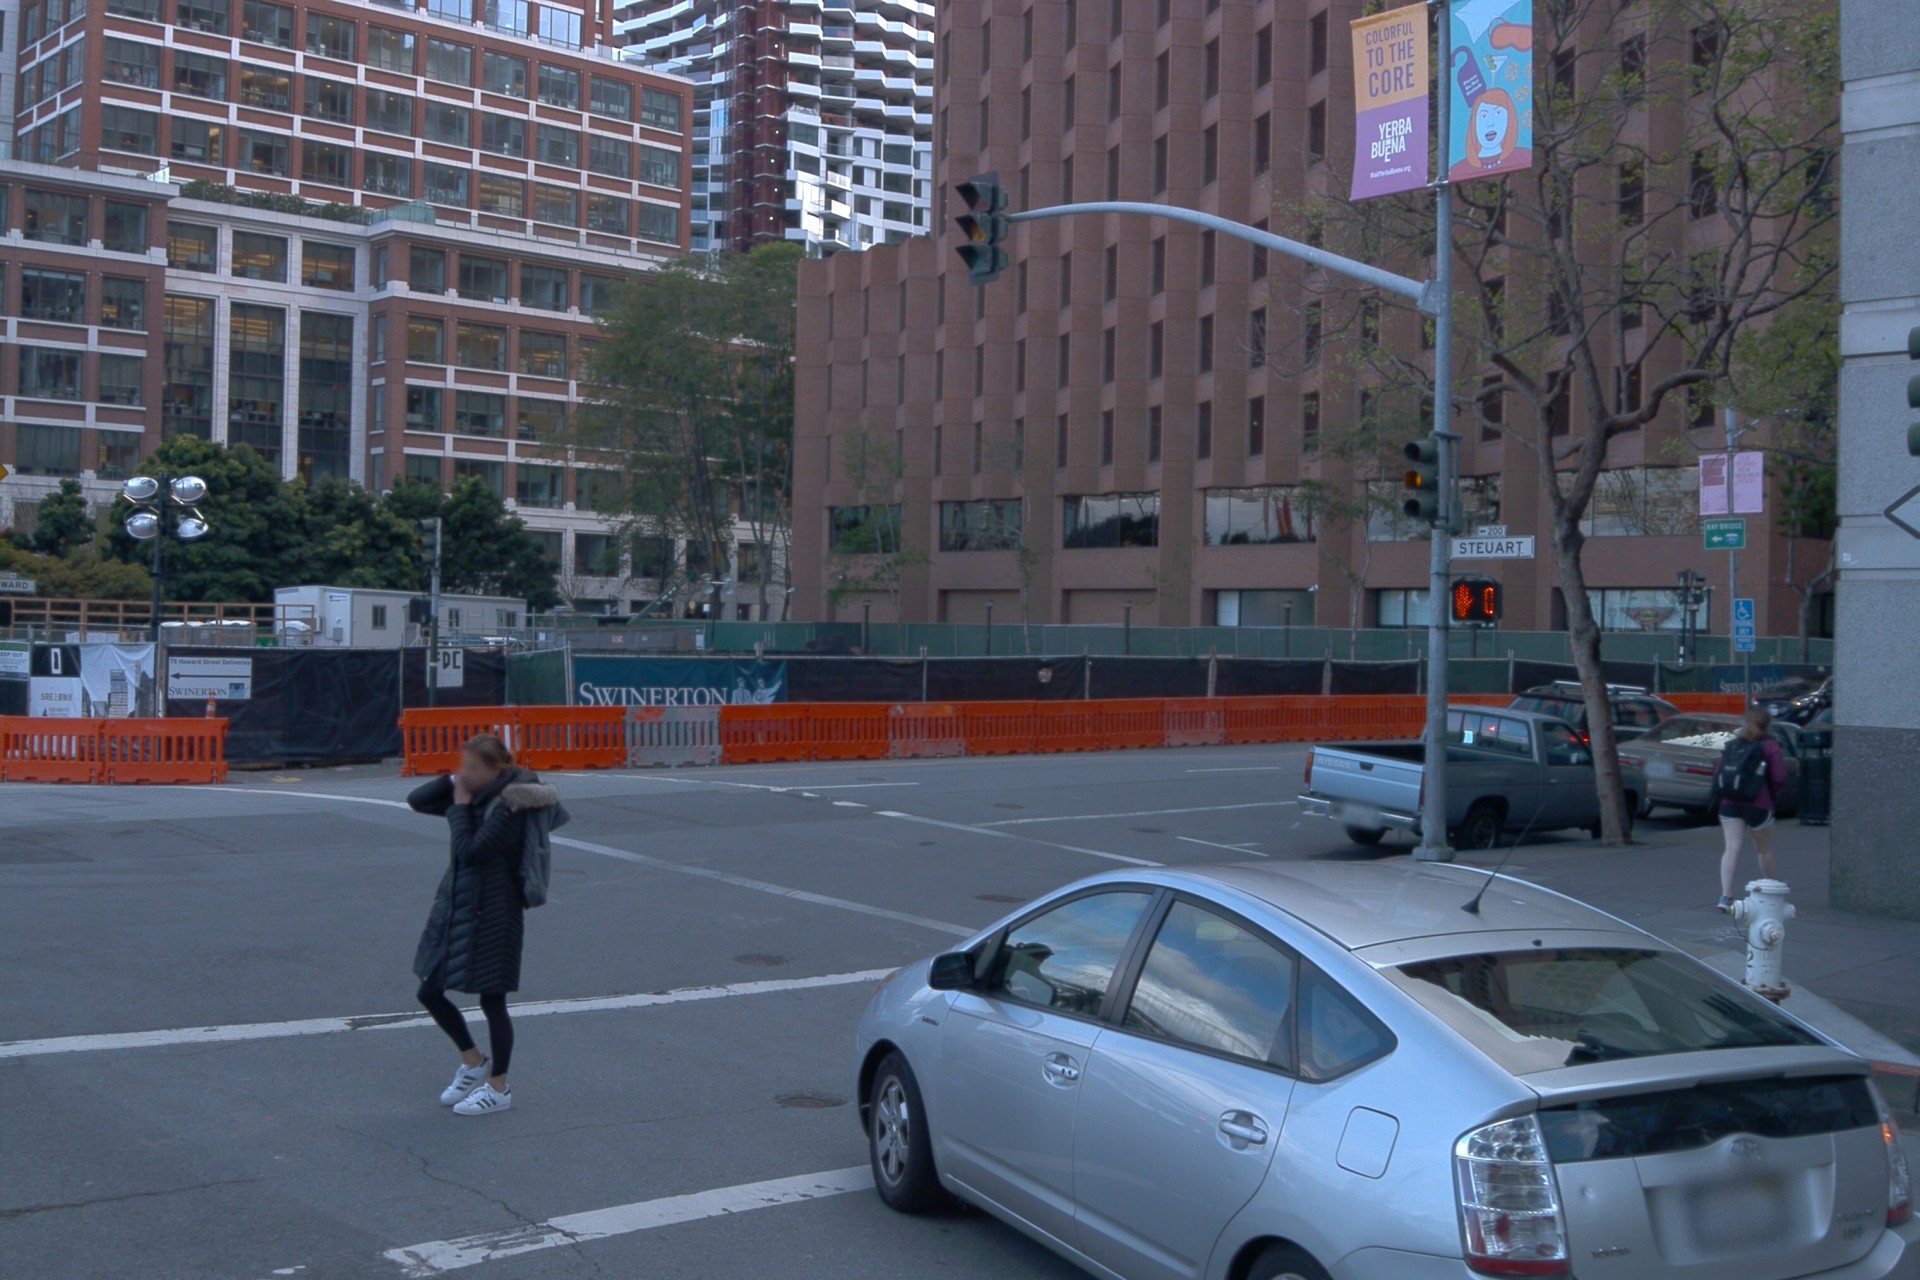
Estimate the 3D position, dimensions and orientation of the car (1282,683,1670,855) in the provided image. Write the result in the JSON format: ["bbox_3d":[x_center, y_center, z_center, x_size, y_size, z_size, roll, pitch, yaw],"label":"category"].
[{"bbox_3d":[5.760,1.326,22.508,4.672,1.610,1.863,0,0,-42],"label":"car"}]

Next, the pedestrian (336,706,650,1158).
[{"bbox_3d":[-2.068,1.222,9.073,1.088,1.810,0.806,0,1,-42],"label":"pedestrian"}]

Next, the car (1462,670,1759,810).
[{"bbox_3d":[9.176,1.332,28.737,4.208,1.760,2.035,0,0,-40],"label":"car"}]

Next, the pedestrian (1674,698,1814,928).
[{"bbox_3d":[5.992,1.290,15.626,0.720,1.650,0.898,1,1,41],"label":"pedestrian"}]

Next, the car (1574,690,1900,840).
[{"bbox_3d":[10.179,1.543,26.639,4.581,1.660,2.108,0,0,-42],"label":"car"}]
